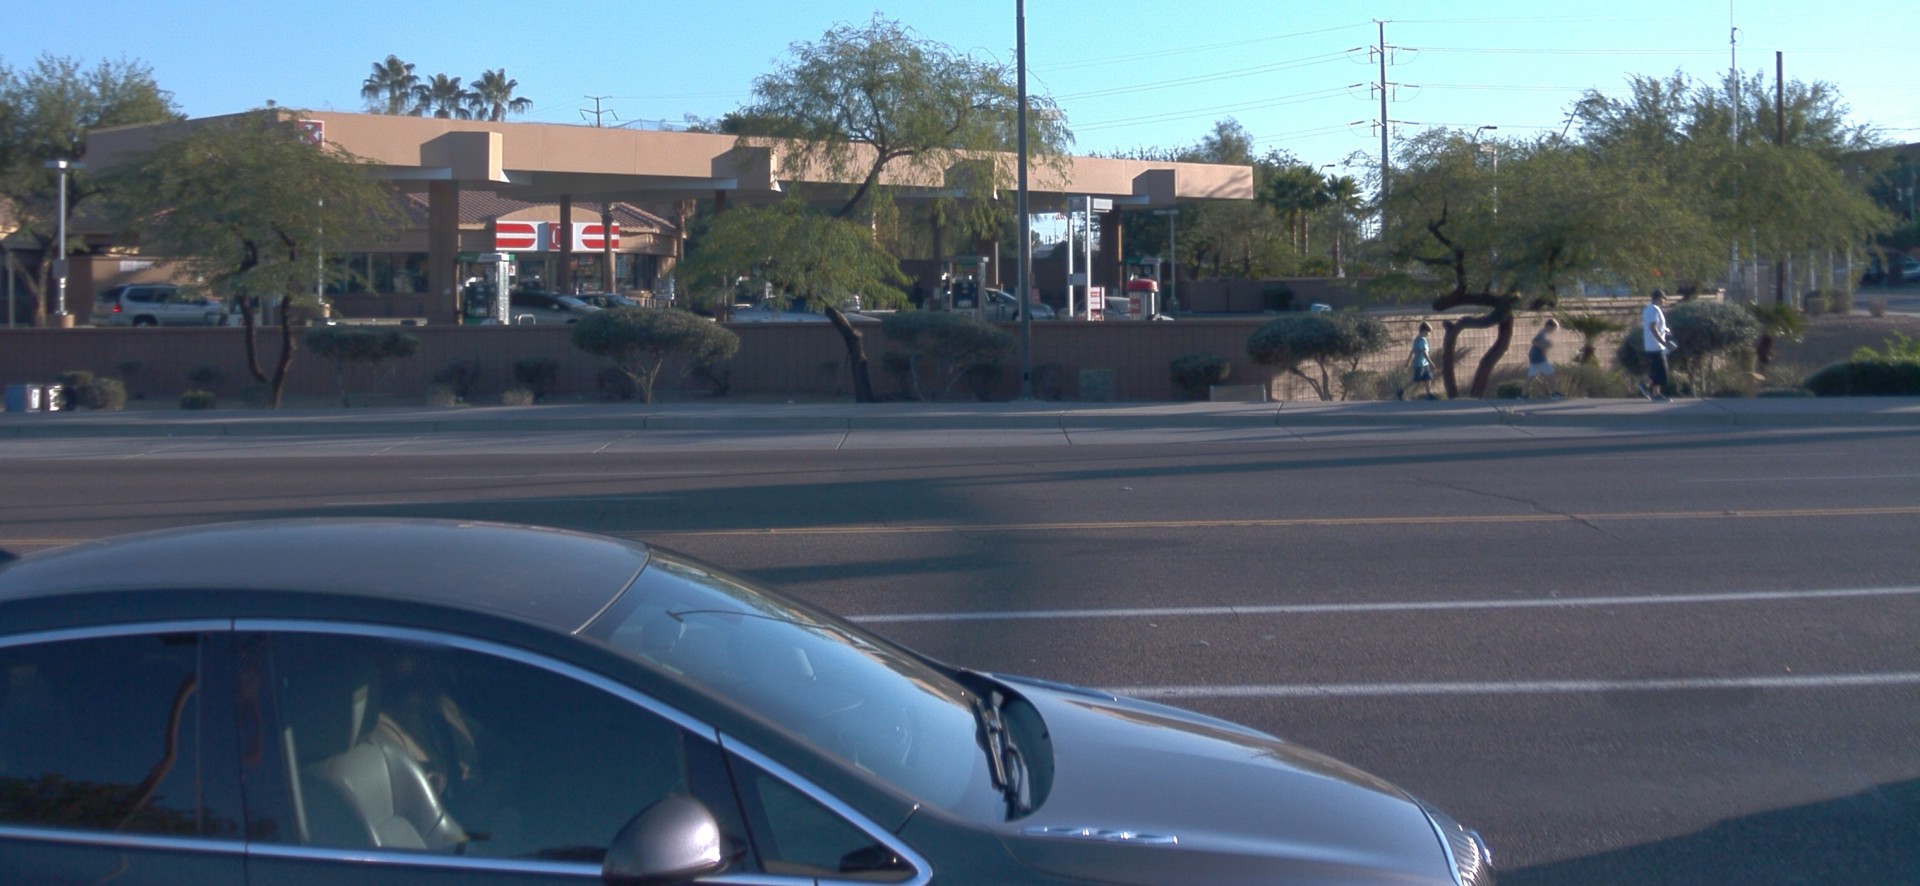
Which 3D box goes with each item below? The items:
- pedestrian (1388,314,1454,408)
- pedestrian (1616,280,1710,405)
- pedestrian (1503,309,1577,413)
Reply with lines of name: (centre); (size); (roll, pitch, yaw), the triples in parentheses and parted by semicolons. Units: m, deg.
pedestrian: (6.913, -1.241, 31.179); (0.912, 1.360, 0.780); (0, 1, 9)
pedestrian: (10.205, -1.476, 30.188); (1.149, 1.777, 0.864); (0, 1, 8)
pedestrian: (8.667, -1.236, 31.053); (0.906, 1.490, 0.827); (0, 1, 4)
